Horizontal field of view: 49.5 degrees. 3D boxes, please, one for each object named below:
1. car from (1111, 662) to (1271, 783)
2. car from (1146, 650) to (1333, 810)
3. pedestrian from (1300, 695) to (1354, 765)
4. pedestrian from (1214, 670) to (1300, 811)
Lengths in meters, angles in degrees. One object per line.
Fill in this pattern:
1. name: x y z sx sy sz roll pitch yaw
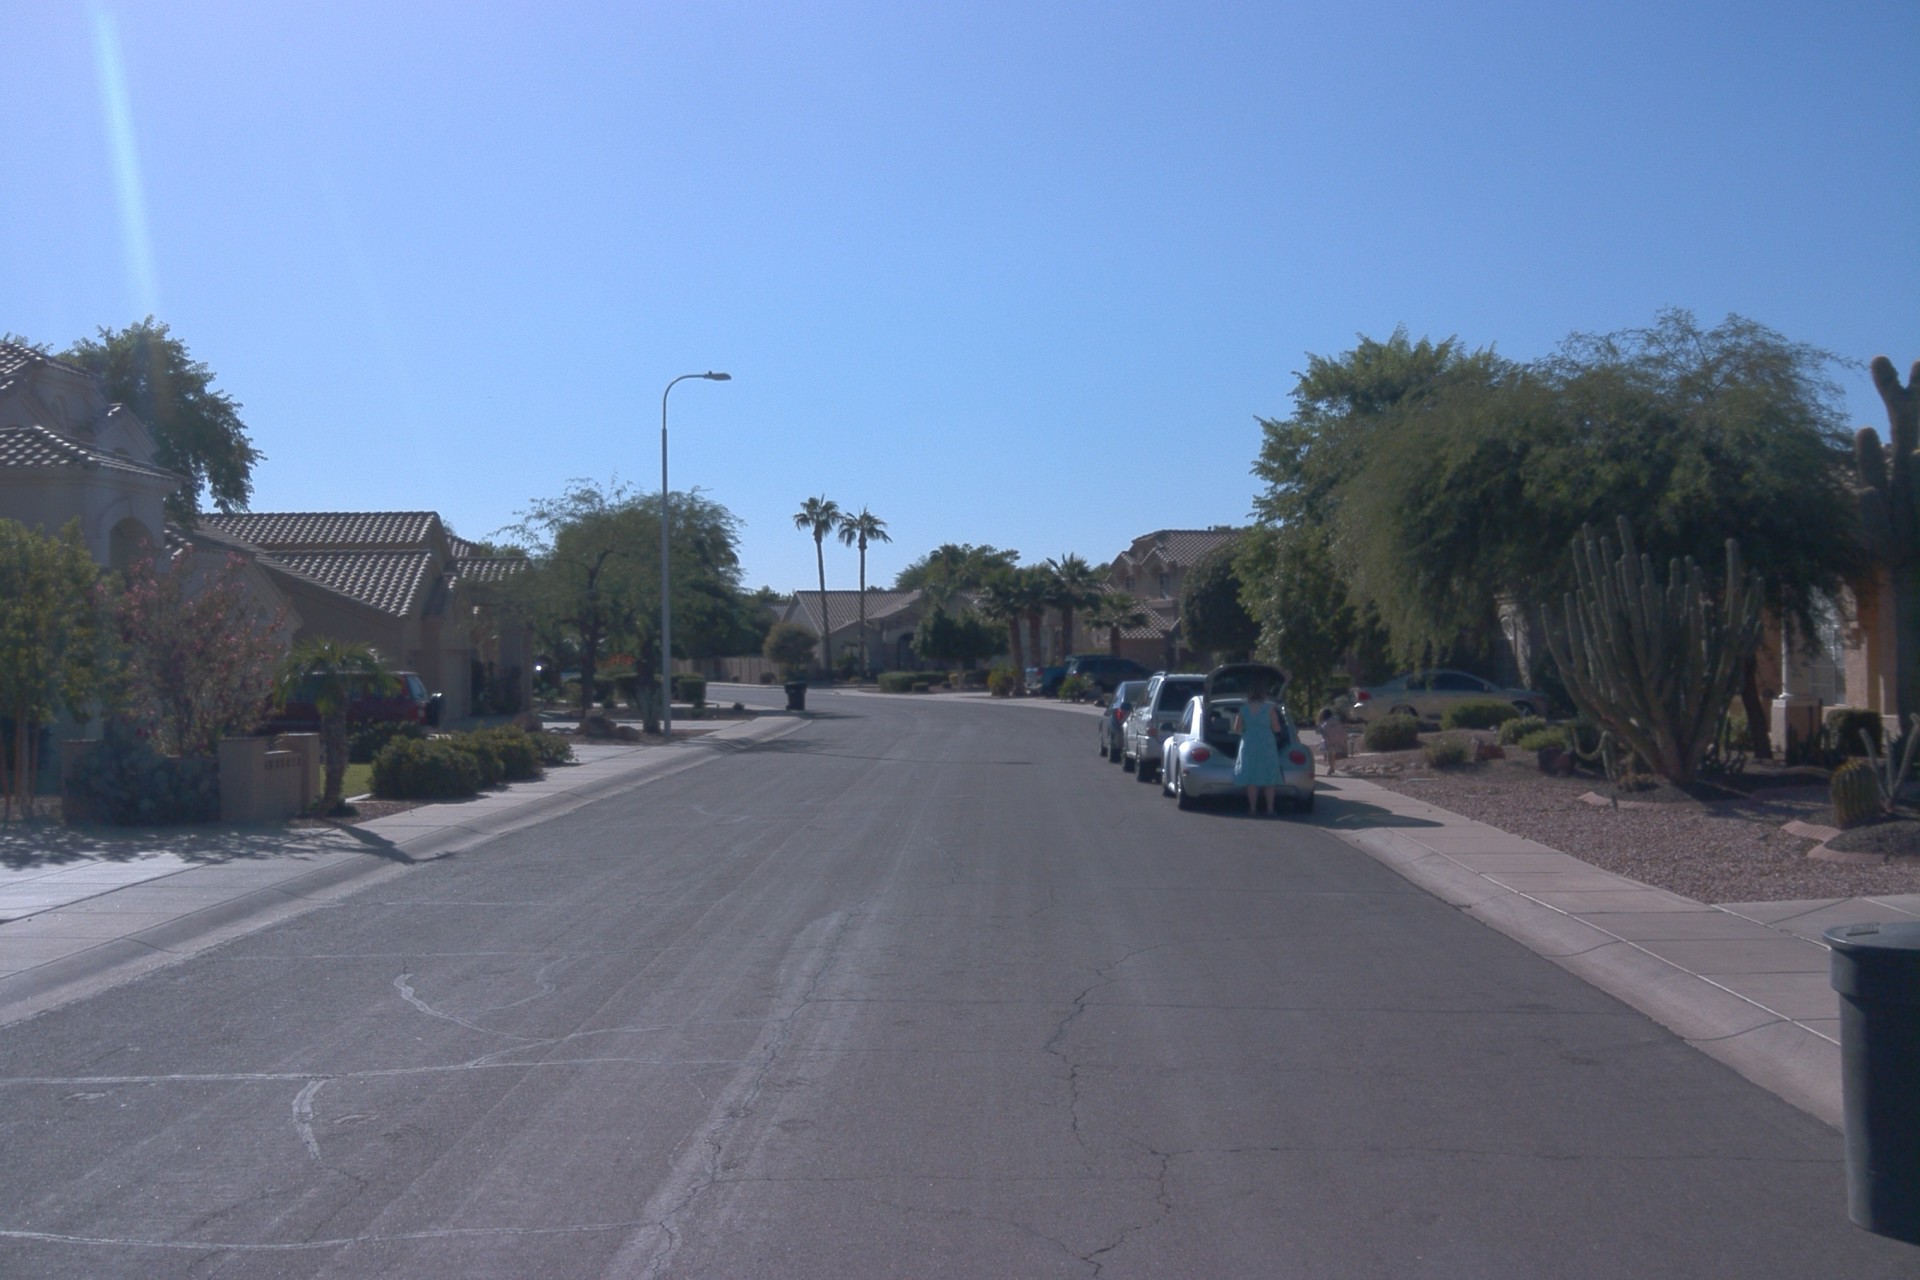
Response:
1. car: 3.623 1.256 33.524 2.103 1.780 4.807 0 0 1
2. car: 3.625 1.118 27.716 1.894 1.980 4.013 0 0 -1
3. pedestrian: 5.827 1.421 33.111 0.699 1.090 0.762 0 0 -2
4. pedestrian: 3.656 1.222 25.692 0.906 1.690 0.869 0 0 -2
